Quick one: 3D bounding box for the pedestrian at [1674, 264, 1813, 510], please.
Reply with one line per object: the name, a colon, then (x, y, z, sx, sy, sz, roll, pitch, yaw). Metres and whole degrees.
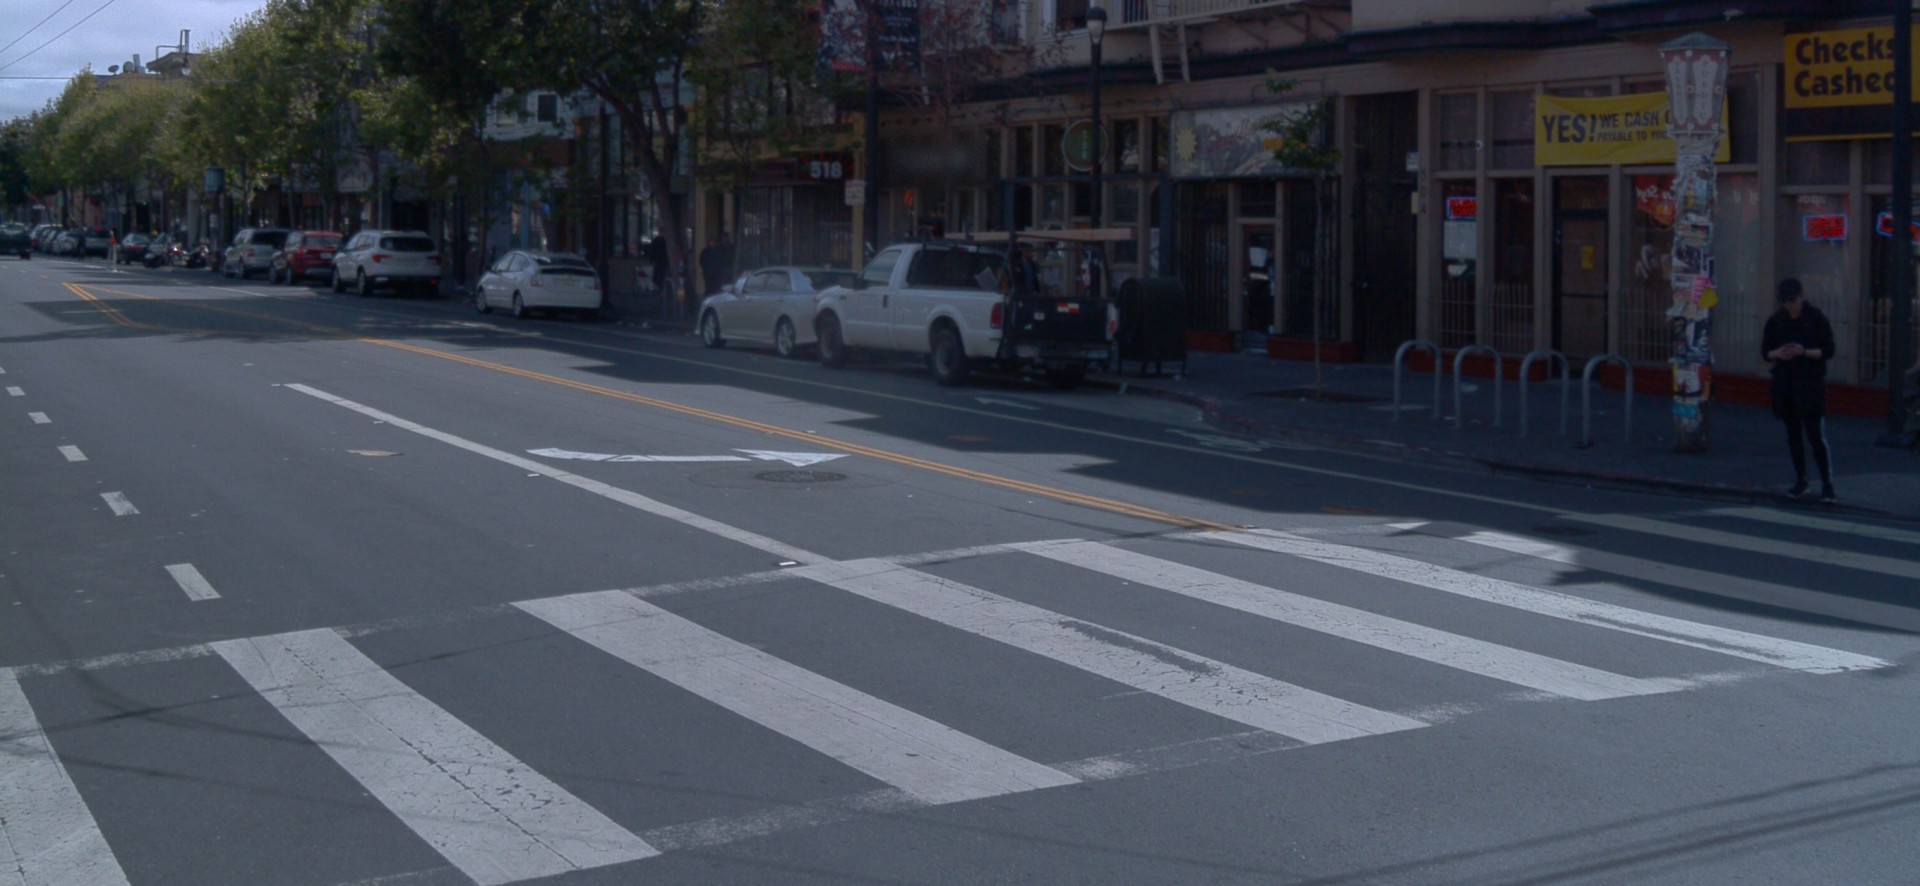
pedestrian: (6.379, -0.488, 16.737, 0.769, 1.919, 0.747, -1, 1, -34)

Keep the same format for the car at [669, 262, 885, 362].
car: (-3.063, -2.188, 33.493, 1.636, 1.455, 4.474, -2, 5, -32)

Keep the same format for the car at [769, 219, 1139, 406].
car: (-0.267, -1.933, 28.537, 2.468, 2.282, 6.164, -2, 5, -29)

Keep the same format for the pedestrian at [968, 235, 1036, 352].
pedestrian: (0.683, -2.479, 33.784, 0.712, 1.889, 1.020, -1, 1, -28)
